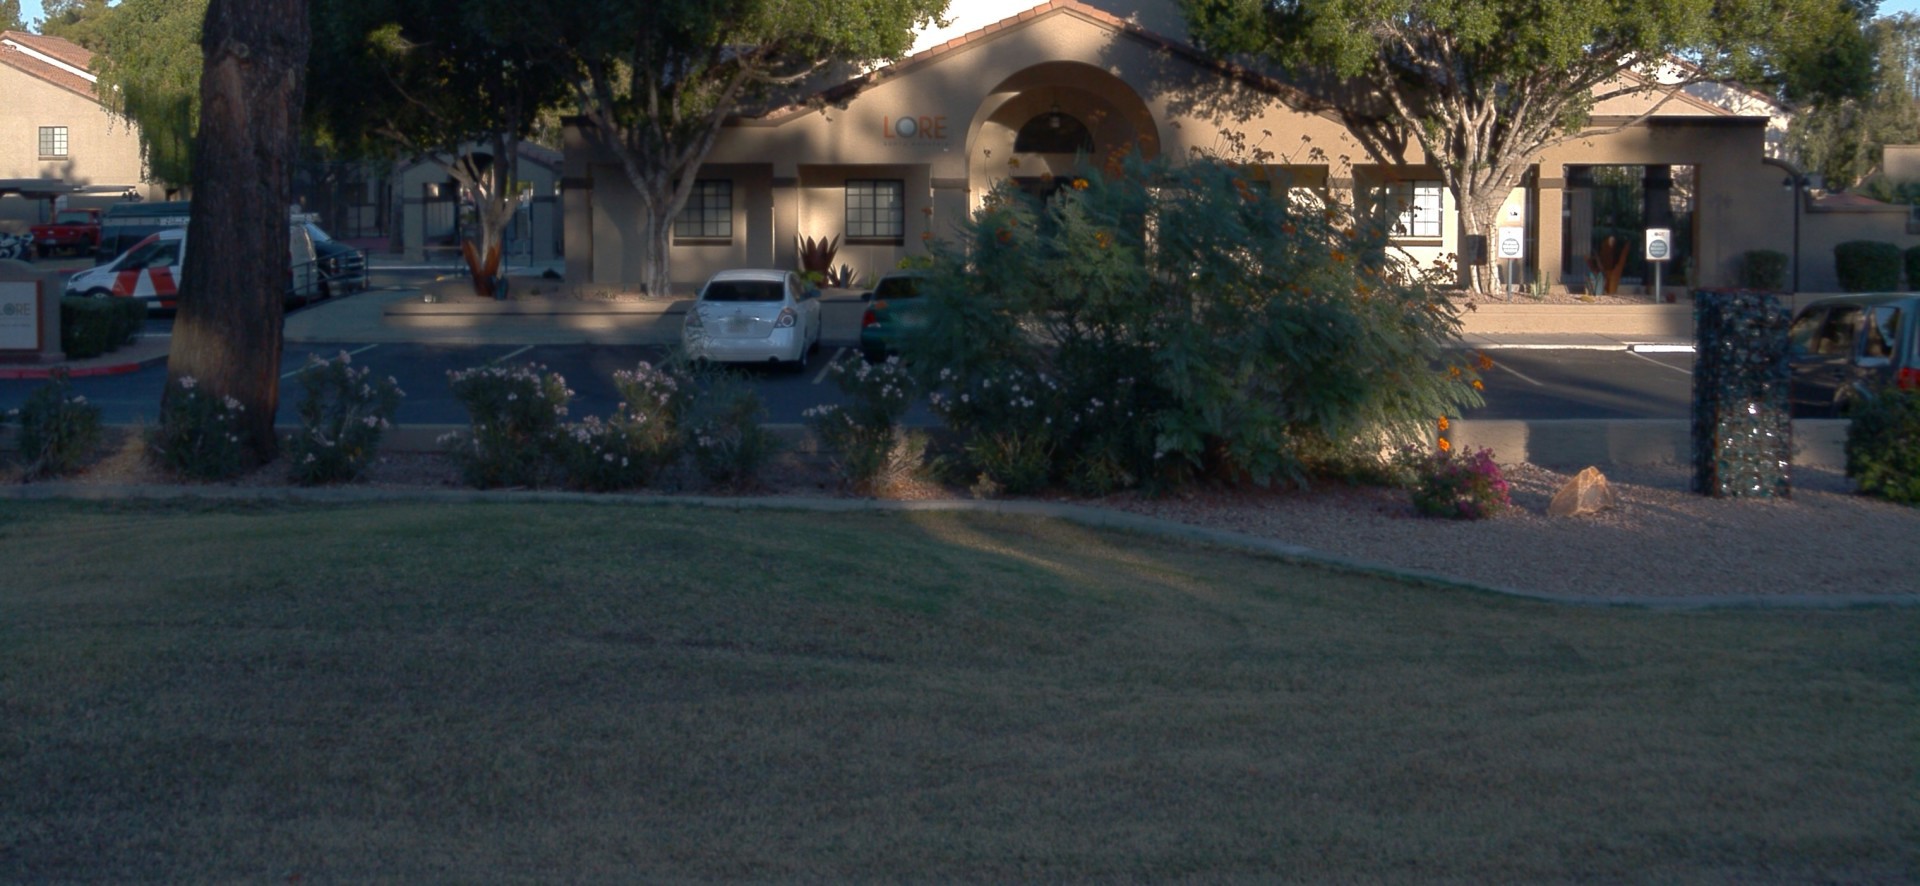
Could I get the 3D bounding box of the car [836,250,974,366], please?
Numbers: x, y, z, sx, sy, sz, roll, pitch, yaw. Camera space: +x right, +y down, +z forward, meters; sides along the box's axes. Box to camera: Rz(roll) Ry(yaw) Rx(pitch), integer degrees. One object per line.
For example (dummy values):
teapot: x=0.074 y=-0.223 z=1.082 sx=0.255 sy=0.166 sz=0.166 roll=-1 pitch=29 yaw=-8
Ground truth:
car: x=-0.784 y=-2.162 z=32.211 sx=1.975 sy=1.624 sz=4.674 roll=0 pitch=5 yaw=0

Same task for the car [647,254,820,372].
car: x=-3.385 y=-2.059 z=31.795 sx=2.100 sy=1.624 sz=4.627 roll=0 pitch=5 yaw=0
